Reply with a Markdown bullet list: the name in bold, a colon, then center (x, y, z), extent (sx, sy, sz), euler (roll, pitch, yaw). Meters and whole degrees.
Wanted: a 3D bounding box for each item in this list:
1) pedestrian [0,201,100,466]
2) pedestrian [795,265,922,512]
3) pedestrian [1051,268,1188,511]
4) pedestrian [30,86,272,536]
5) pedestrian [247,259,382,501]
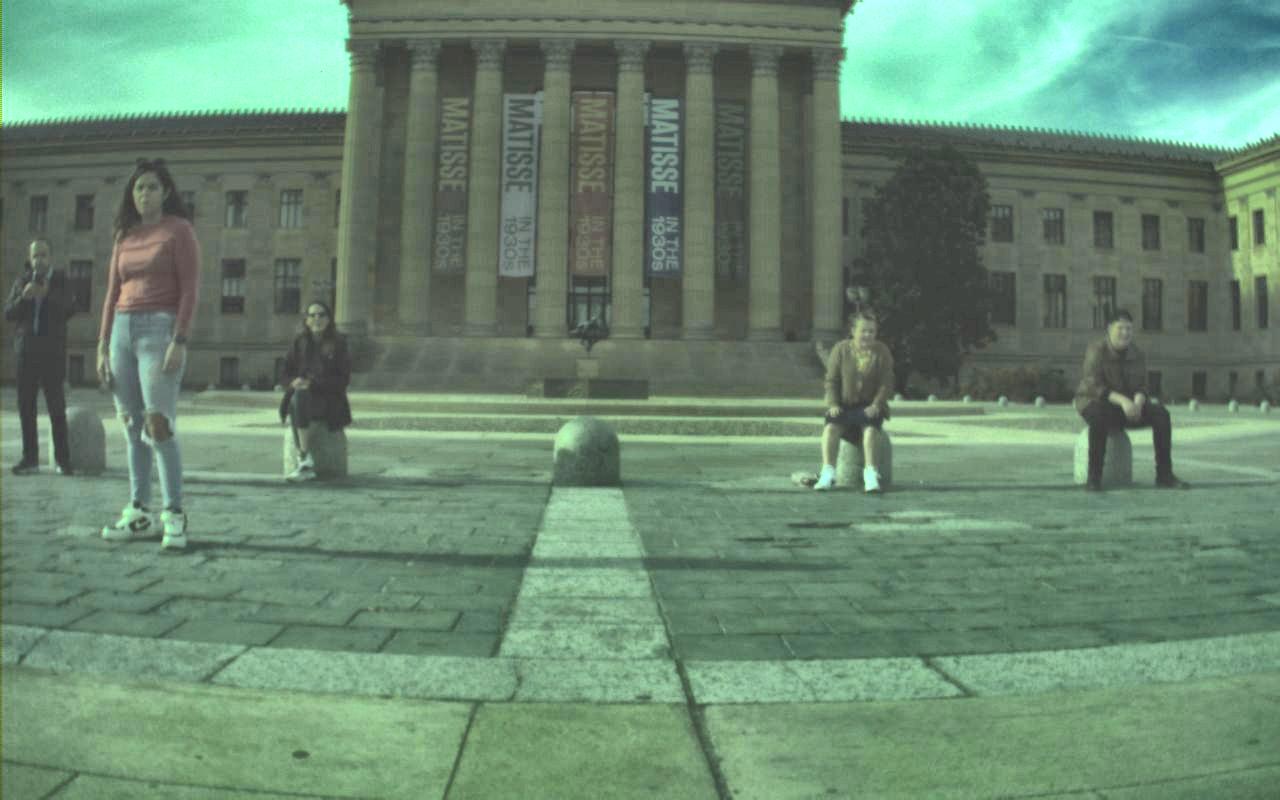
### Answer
- **pedestrian**: center (-4.169, -0.429, 7.880), extent (0.796, 1.766, 0.814), euler (0, 0, -26)
- **pedestrian**: center (1.471, -0.078, 8.517), extent (0.797, 1.604, 0.829), euler (0, 0, 5)
- **pedestrian**: center (3.440, -0.067, 8.547), extent (0.803, 1.653, 0.834), euler (0, 0, 3)
- **pedestrian**: center (-2.038, -0.347, 4.858), extent (0.753, 1.706, 0.763), euler (0, 0, 10)
- **pedestrian**: center (-2.237, -0.135, 8.455), extent (0.808, 1.584, 0.848), euler (0, 0, -4)
